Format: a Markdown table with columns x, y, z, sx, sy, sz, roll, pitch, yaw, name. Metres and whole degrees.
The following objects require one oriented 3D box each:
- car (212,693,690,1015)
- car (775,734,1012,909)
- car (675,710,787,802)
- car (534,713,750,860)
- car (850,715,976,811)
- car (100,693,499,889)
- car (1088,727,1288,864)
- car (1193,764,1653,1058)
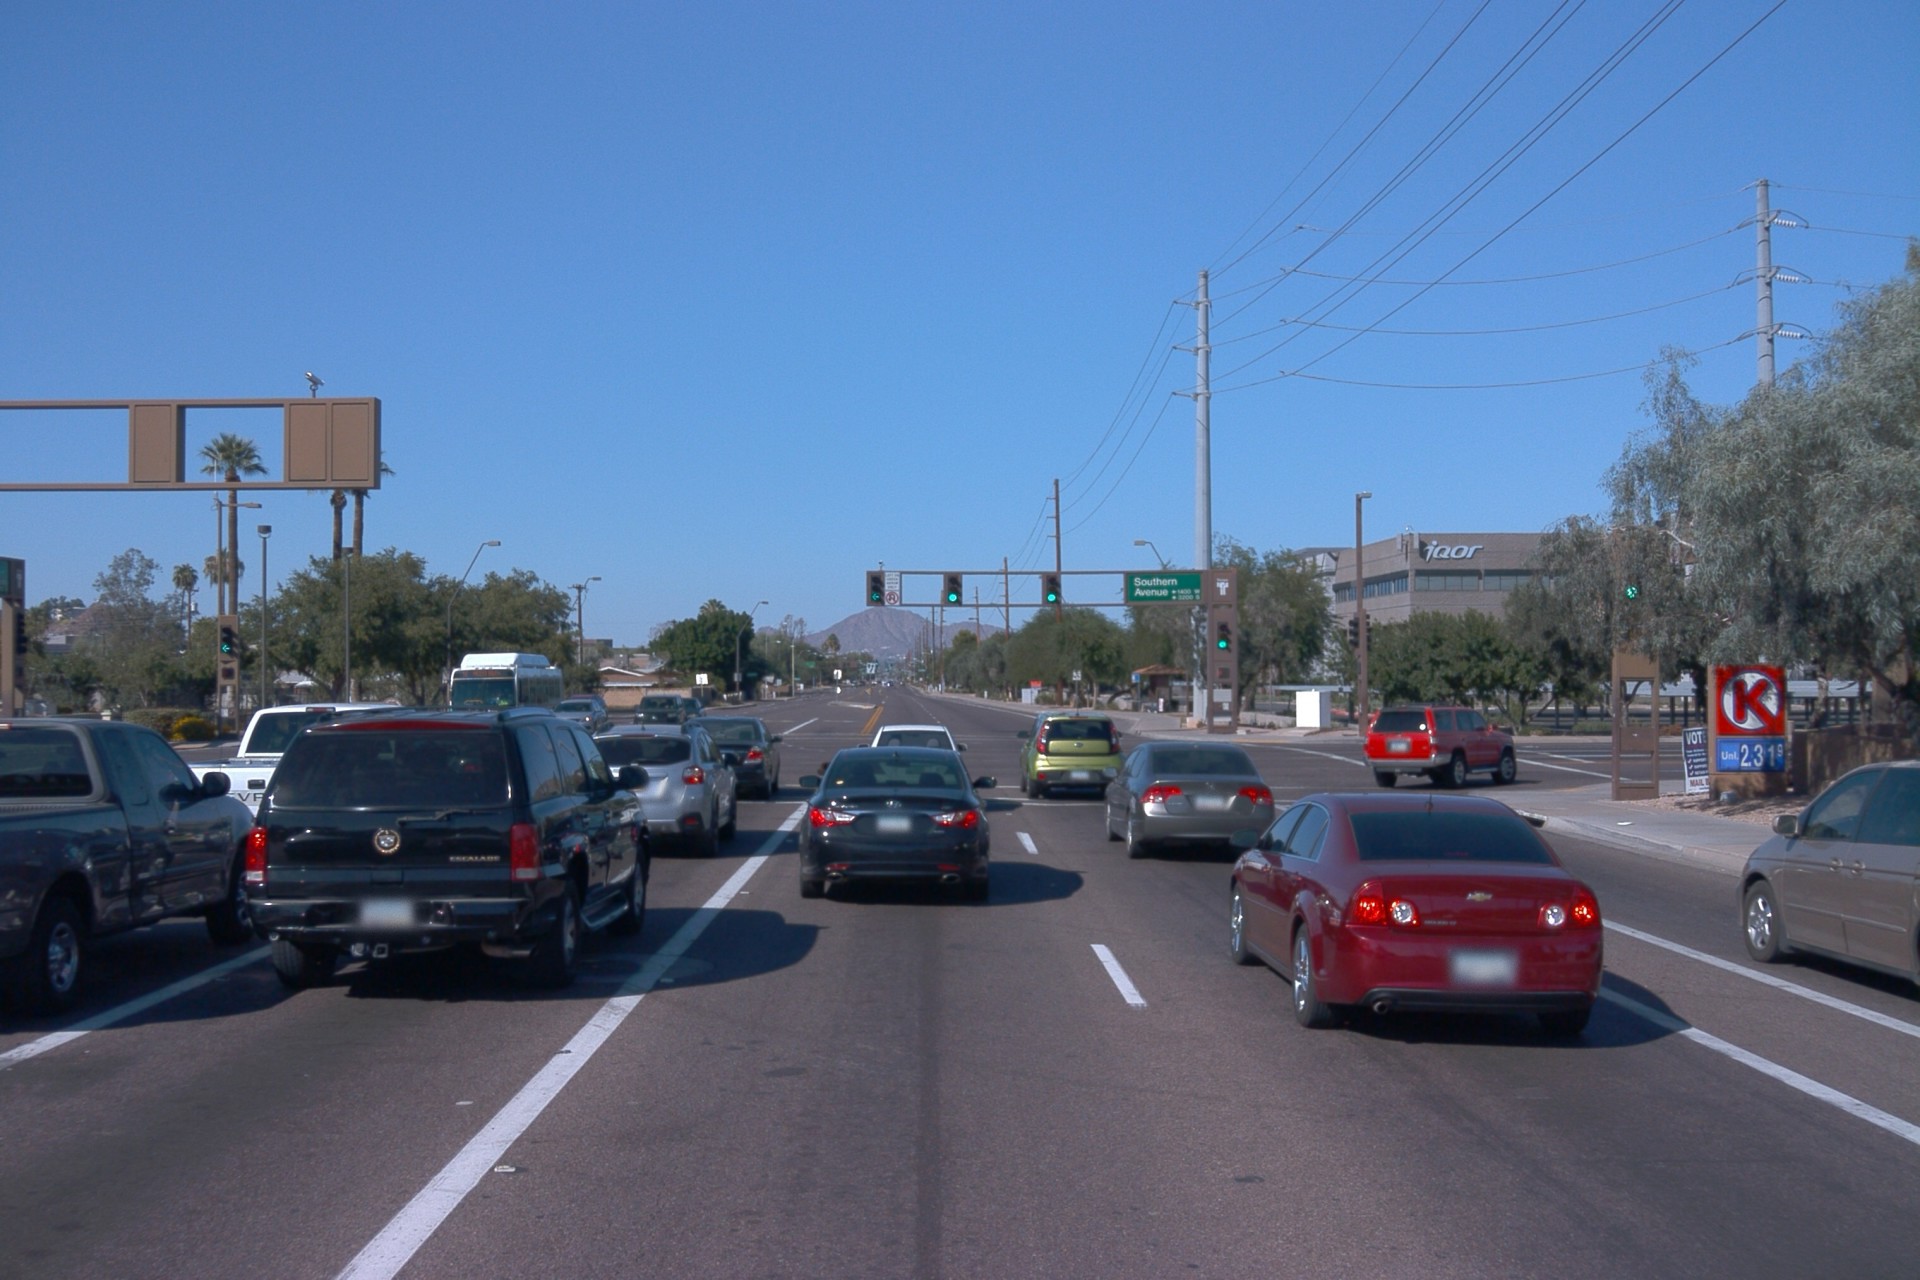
| x | y | z | sx | sy | sz | roll | pitch | yaw | name |
| --- | --- | --- | --- | --- | --- | --- | --- | --- | --- |
| -3.505 | 1.396 | 15.427 | 2.219 | 1.970 | 5.012 | 0 | -1 | 1 | car |
| -0.642 | 1.771 | 21.348 | 2.156 | 1.470 | 4.806 | 0 | -1 | -1 | car |
| -4.085 | 2.053 | 37.493 | 1.735 | 1.500 | 4.321 | 0 | -1 | -3 | car |
| -3.886 | 1.759 | 26.138 | 2.077 | 1.610 | 4.768 | 0 | -1 | -1 | car |
| -0.781 | 2.018 | 34.948 | 1.969 | 1.400 | 5.048 | 0 | -1 | -1 | car |
| -7.230 | 1.574 | 23.617 | 2.494 | 1.900 | 6.193 | 0 | -1 | 1 | car |
| 2.824 | 1.923 | 26.631 | 1.907 | 1.500 | 4.575 | 0 | -1 | -2 | car |
| 2.913 | 1.686 | 14.212 | 1.961 | 1.480 | 4.830 | 0 | -1 | -1 | car |
